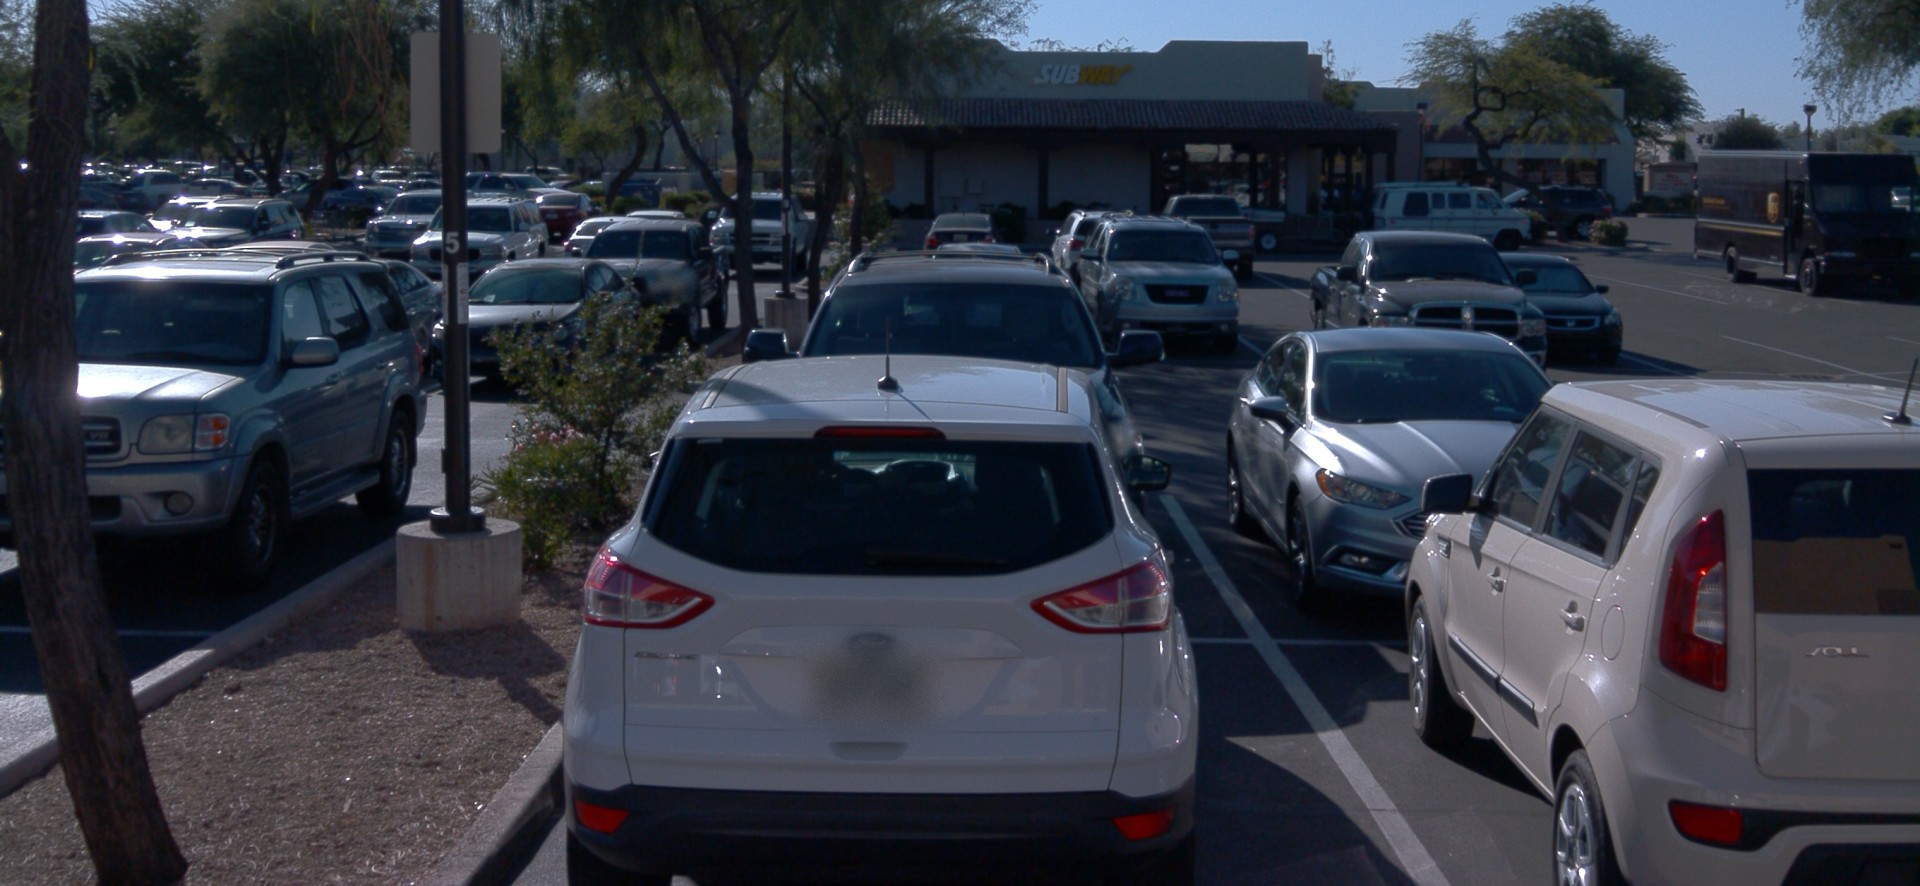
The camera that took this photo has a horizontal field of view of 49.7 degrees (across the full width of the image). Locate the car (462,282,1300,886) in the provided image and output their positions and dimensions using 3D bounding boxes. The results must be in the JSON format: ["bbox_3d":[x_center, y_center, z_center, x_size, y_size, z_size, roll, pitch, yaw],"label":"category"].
[{"bbox_3d":[-0.222,0.371,7.570,2.095,1.752,4.697,1,5,-1],"label":"car"}]

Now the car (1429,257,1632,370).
[{"bbox_3d":[8.534,-2.026,31.421,1.976,1.493,4.498,1,6,2],"label":"car"}]

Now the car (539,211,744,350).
[{"bbox_3d":[-4.724,-2.553,31.611,2.086,1.901,5.342,1,5,2],"label":"car"}]

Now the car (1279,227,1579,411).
[{"bbox_3d":[5.717,-1.695,26.194,2.523,2.021,5.784,1,6,0],"label":"car"}]

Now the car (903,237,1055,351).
[{"bbox_3d":[0.294,-2.317,31.444,2.127,1.553,4.507,1,6,0],"label":"car"}]

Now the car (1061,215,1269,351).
[{"bbox_3d":[3.031,-2.546,32.009,2.482,1.891,5.237,0,5,-3],"label":"car"}]

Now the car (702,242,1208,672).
[{"bbox_3d":[-0.049,-0.171,12.871,2.497,2.061,5.138,1,5,-1],"label":"car"}]

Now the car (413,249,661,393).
[{"bbox_3d":[-5.095,-1.586,25.660,2.083,1.543,4.565,1,6,0],"label":"car"}]

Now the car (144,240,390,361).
[{"bbox_3d":[-10.113,-2.165,30.657,2.010,1.593,4.474,1,5,2],"label":"car"}]

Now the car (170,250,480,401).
[{"bbox_3d":[-7.677,-1.544,25.662,2.180,1.602,4.851,1,6,2],"label":"car"}]

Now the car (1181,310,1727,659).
[{"bbox_3d":[2.754,0.064,12.856,2.170,1.543,4.761,0,6,-1],"label":"car"}]
